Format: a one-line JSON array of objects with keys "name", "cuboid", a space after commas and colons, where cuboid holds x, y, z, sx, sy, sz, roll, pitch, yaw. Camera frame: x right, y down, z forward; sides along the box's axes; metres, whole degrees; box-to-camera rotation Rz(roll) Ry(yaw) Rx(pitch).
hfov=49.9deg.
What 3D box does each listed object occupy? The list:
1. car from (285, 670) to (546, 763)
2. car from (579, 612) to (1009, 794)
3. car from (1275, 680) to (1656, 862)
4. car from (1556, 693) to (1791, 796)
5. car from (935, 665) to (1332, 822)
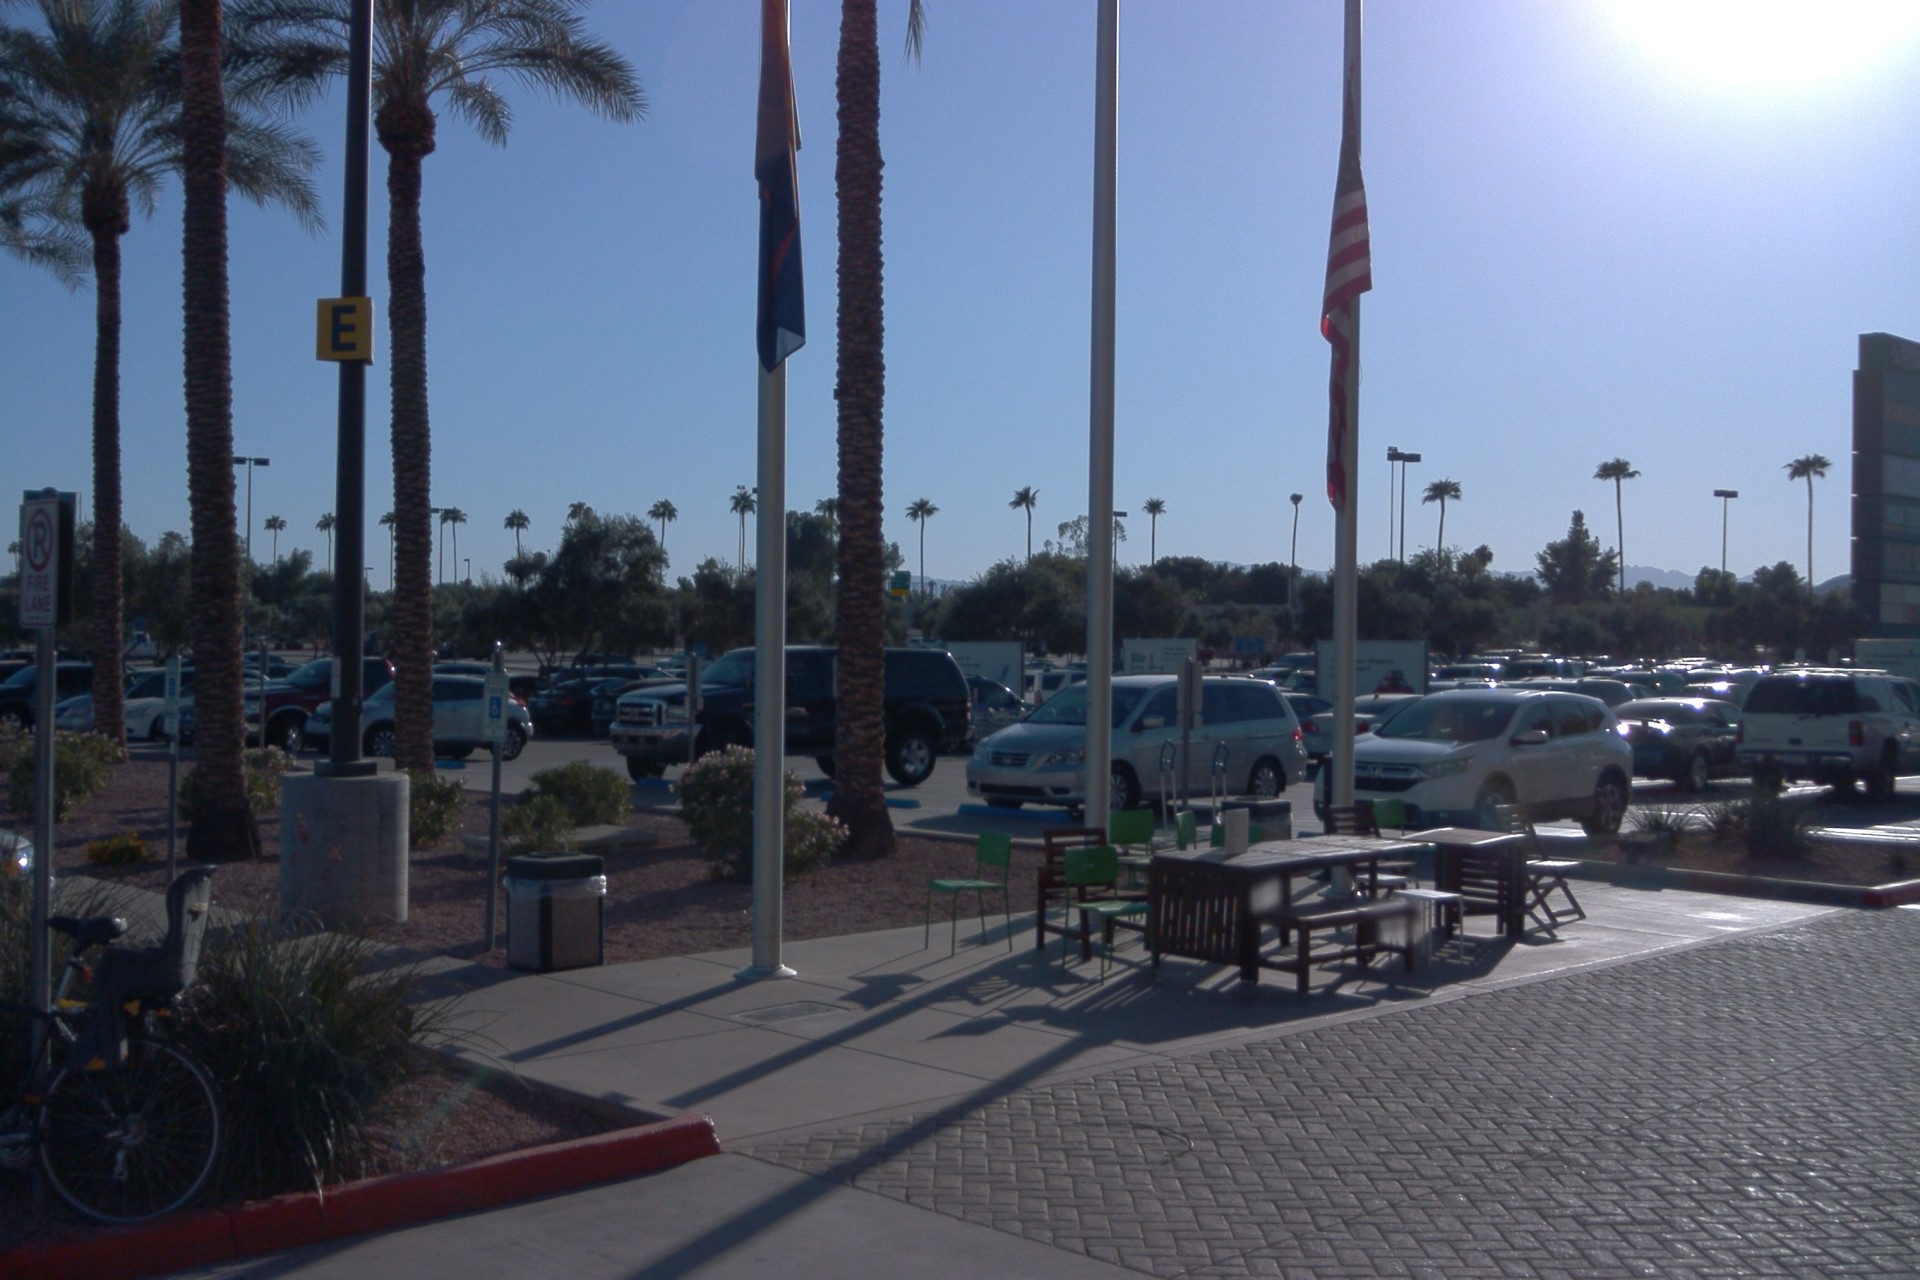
[{"name": "car", "cuboid": [-9.739, 1.327, 37.133, 1.967, 1.550, 4.106, 0, 0, 44]}, {"name": "car", "cuboid": [-2.409, 0.883, 31.392, 6.160, 2.490, 2.672, 1, 0, -43]}, {"name": "car", "cuboid": [5.626, 1.328, 22.589, 2.159, 1.710, 4.564, 0, 0, 41]}, {"name": "car", "cuboid": [11.677, 1.646, 33.653, 4.346, 1.490, 1.909, 1, 0, -45]}, {"name": "car", "cuboid": [2.345, 1.232, 26.559, 2.246, 1.780, 5.286, 0, 0, 44]}]
